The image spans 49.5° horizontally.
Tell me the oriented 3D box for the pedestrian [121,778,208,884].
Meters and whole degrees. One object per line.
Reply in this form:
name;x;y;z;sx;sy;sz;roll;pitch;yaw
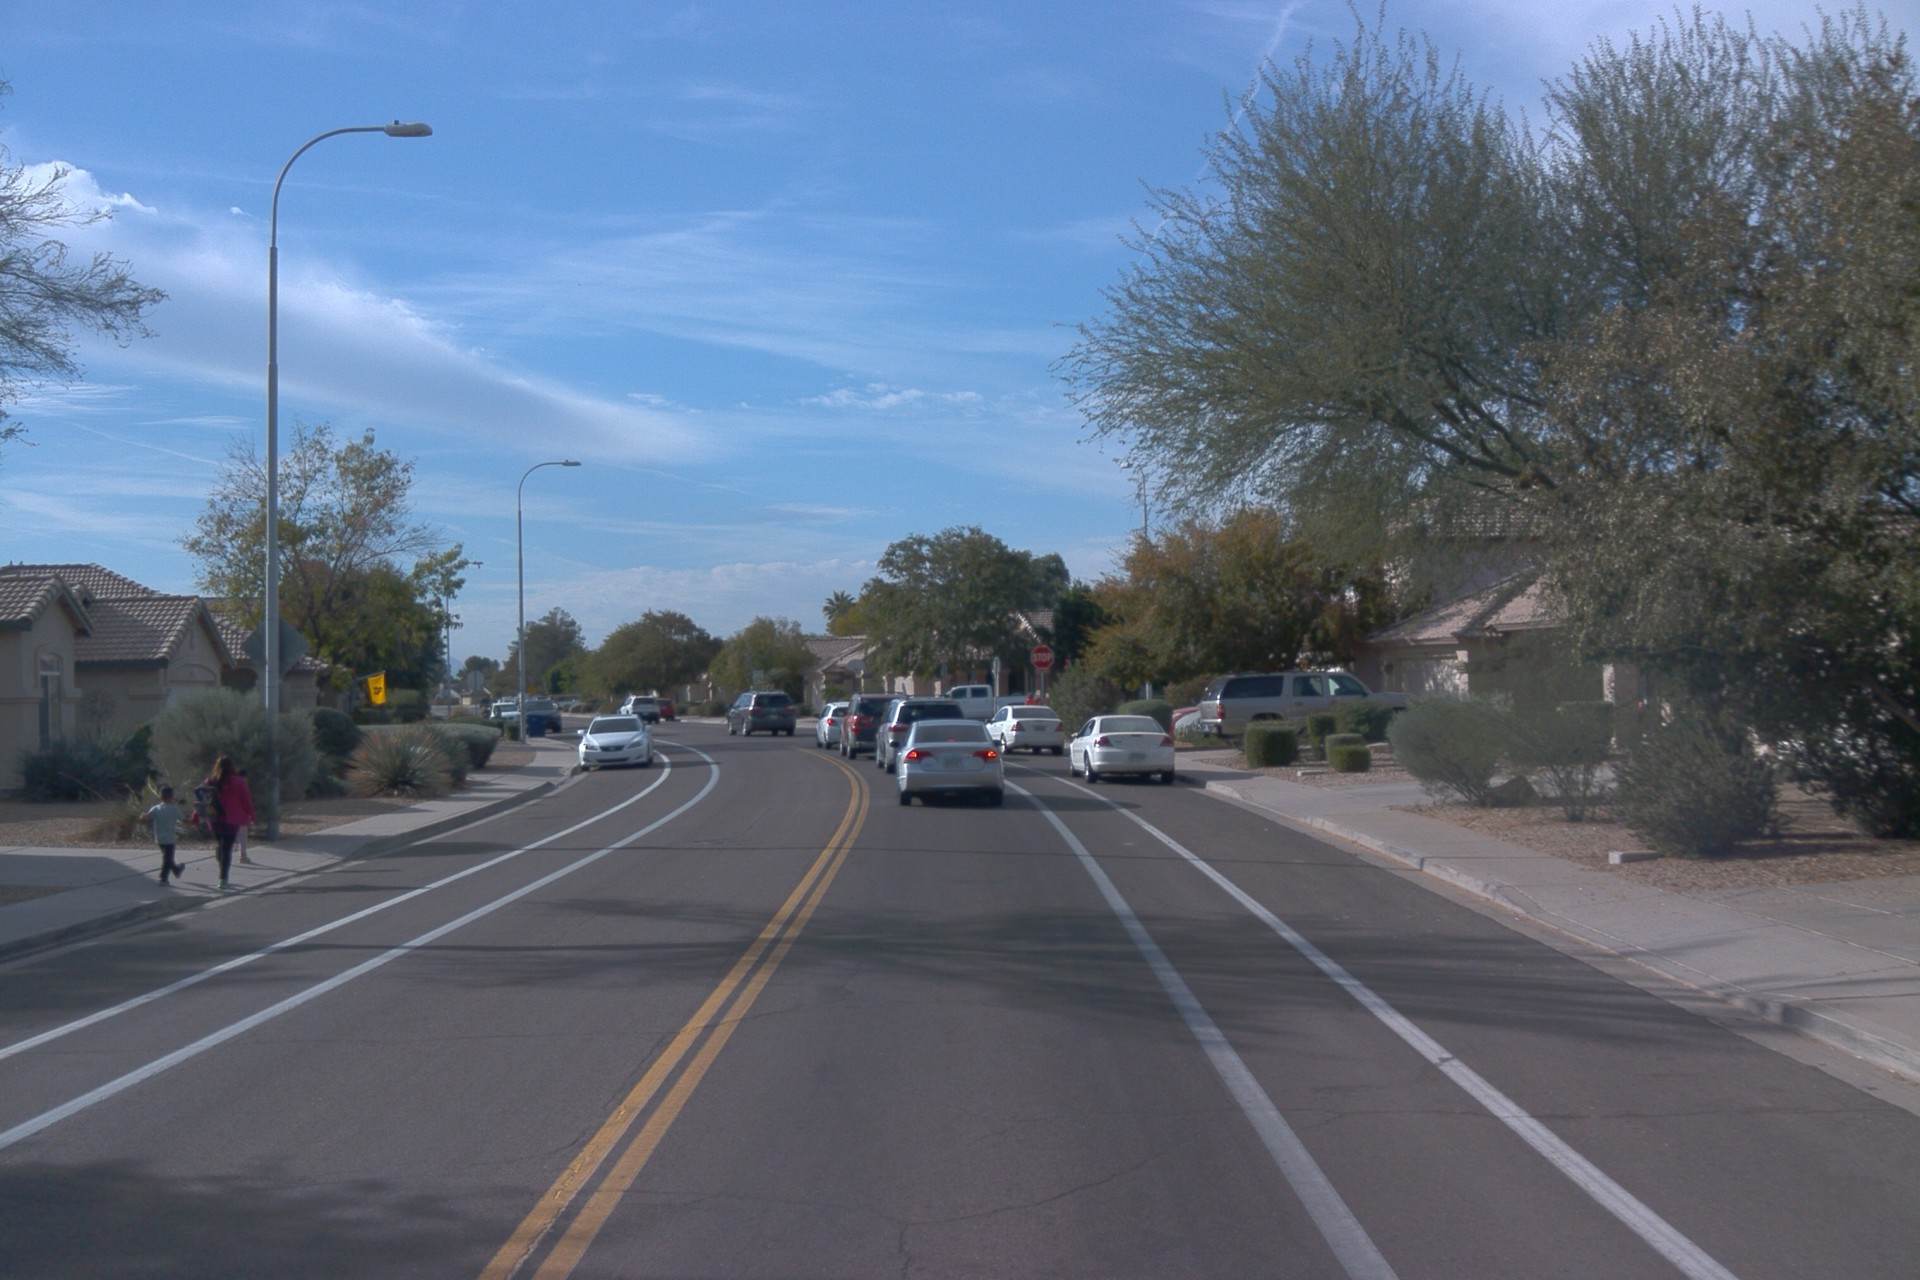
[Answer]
pedestrian;-9.120;2.180;23.881;0.691;1.150;0.794;0;-1;0

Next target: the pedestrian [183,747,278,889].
pedestrian;-8.459;2.054;24.146;0.782;1.580;0.850;0;-1;2

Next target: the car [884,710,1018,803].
car;-0.222;1.972;36.200;2.121;1.440;4.395;0;-1;-3
